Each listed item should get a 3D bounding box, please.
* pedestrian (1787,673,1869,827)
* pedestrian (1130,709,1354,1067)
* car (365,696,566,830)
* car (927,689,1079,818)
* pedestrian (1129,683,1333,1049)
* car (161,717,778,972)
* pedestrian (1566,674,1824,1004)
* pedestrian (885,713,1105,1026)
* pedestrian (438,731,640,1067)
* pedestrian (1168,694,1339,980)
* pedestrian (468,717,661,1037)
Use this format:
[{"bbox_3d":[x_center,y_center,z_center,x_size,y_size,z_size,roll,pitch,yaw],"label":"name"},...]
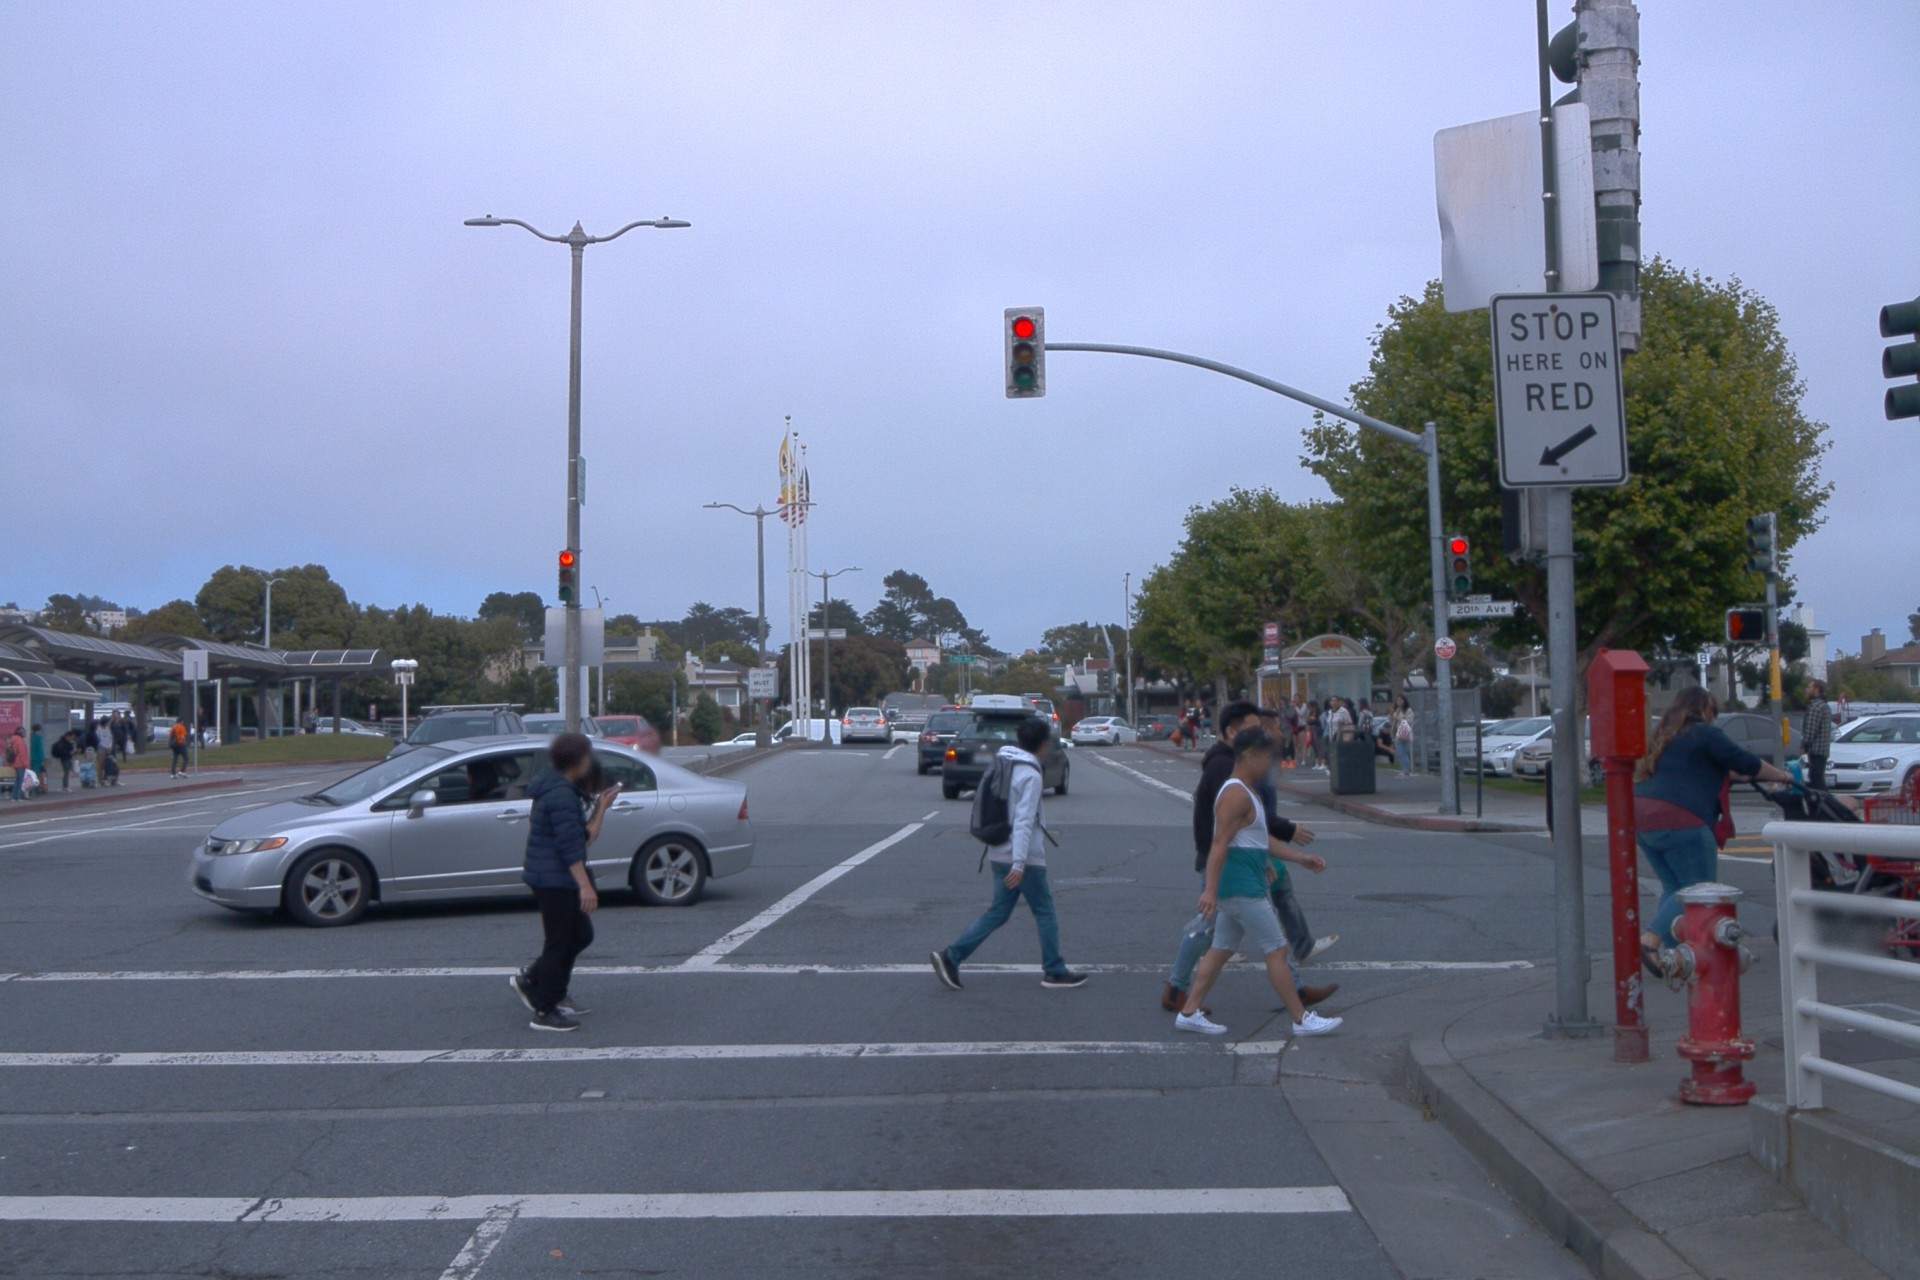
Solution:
[{"bbox_3d":[11.024,1.379,26.125,0.740,1.900,0.620,-1,1,-25],"label":"pedestrian"},{"bbox_3d":[1.429,1.204,10.340,1.015,1.670,0.736,0,1,17],"label":"pedestrian"},{"bbox_3d":[-8.223,2.000,34.631,2.080,1.920,4.561,0,1,3],"label":"car"},{"bbox_3d":[0.844,1.975,37.056,1.880,2.000,4.360,0,1,13],"label":"car"},{"bbox_3d":[1.469,1.160,11.017,1.006,1.830,0.937,0,1,13],"label":"pedestrian"},{"bbox_3d":[-3.948,1.535,16.674,4.468,1.620,2.032,-1,1,-29],"label":"car"},{"bbox_3d":[4.034,1.056,11.315,1.128,1.710,0.707,0,1,-15],"label":"pedestrian"},{"bbox_3d":[0.187,1.288,11.930,1.049,1.670,0.929,0,1,-15],"label":"pedestrian"},{"bbox_3d":[-2.185,1.325,10.766,0.993,1.650,0.667,0,1,-9],"label":"pedestrian"},{"bbox_3d":[1.834,1.212,12.925,0.940,1.720,0.669,0,1,-4],"label":"pedestrian"},{"bbox_3d":[-2.147,1.270,11.232,0.963,1.660,0.601,0,1,-4],"label":"pedestrian"}]
